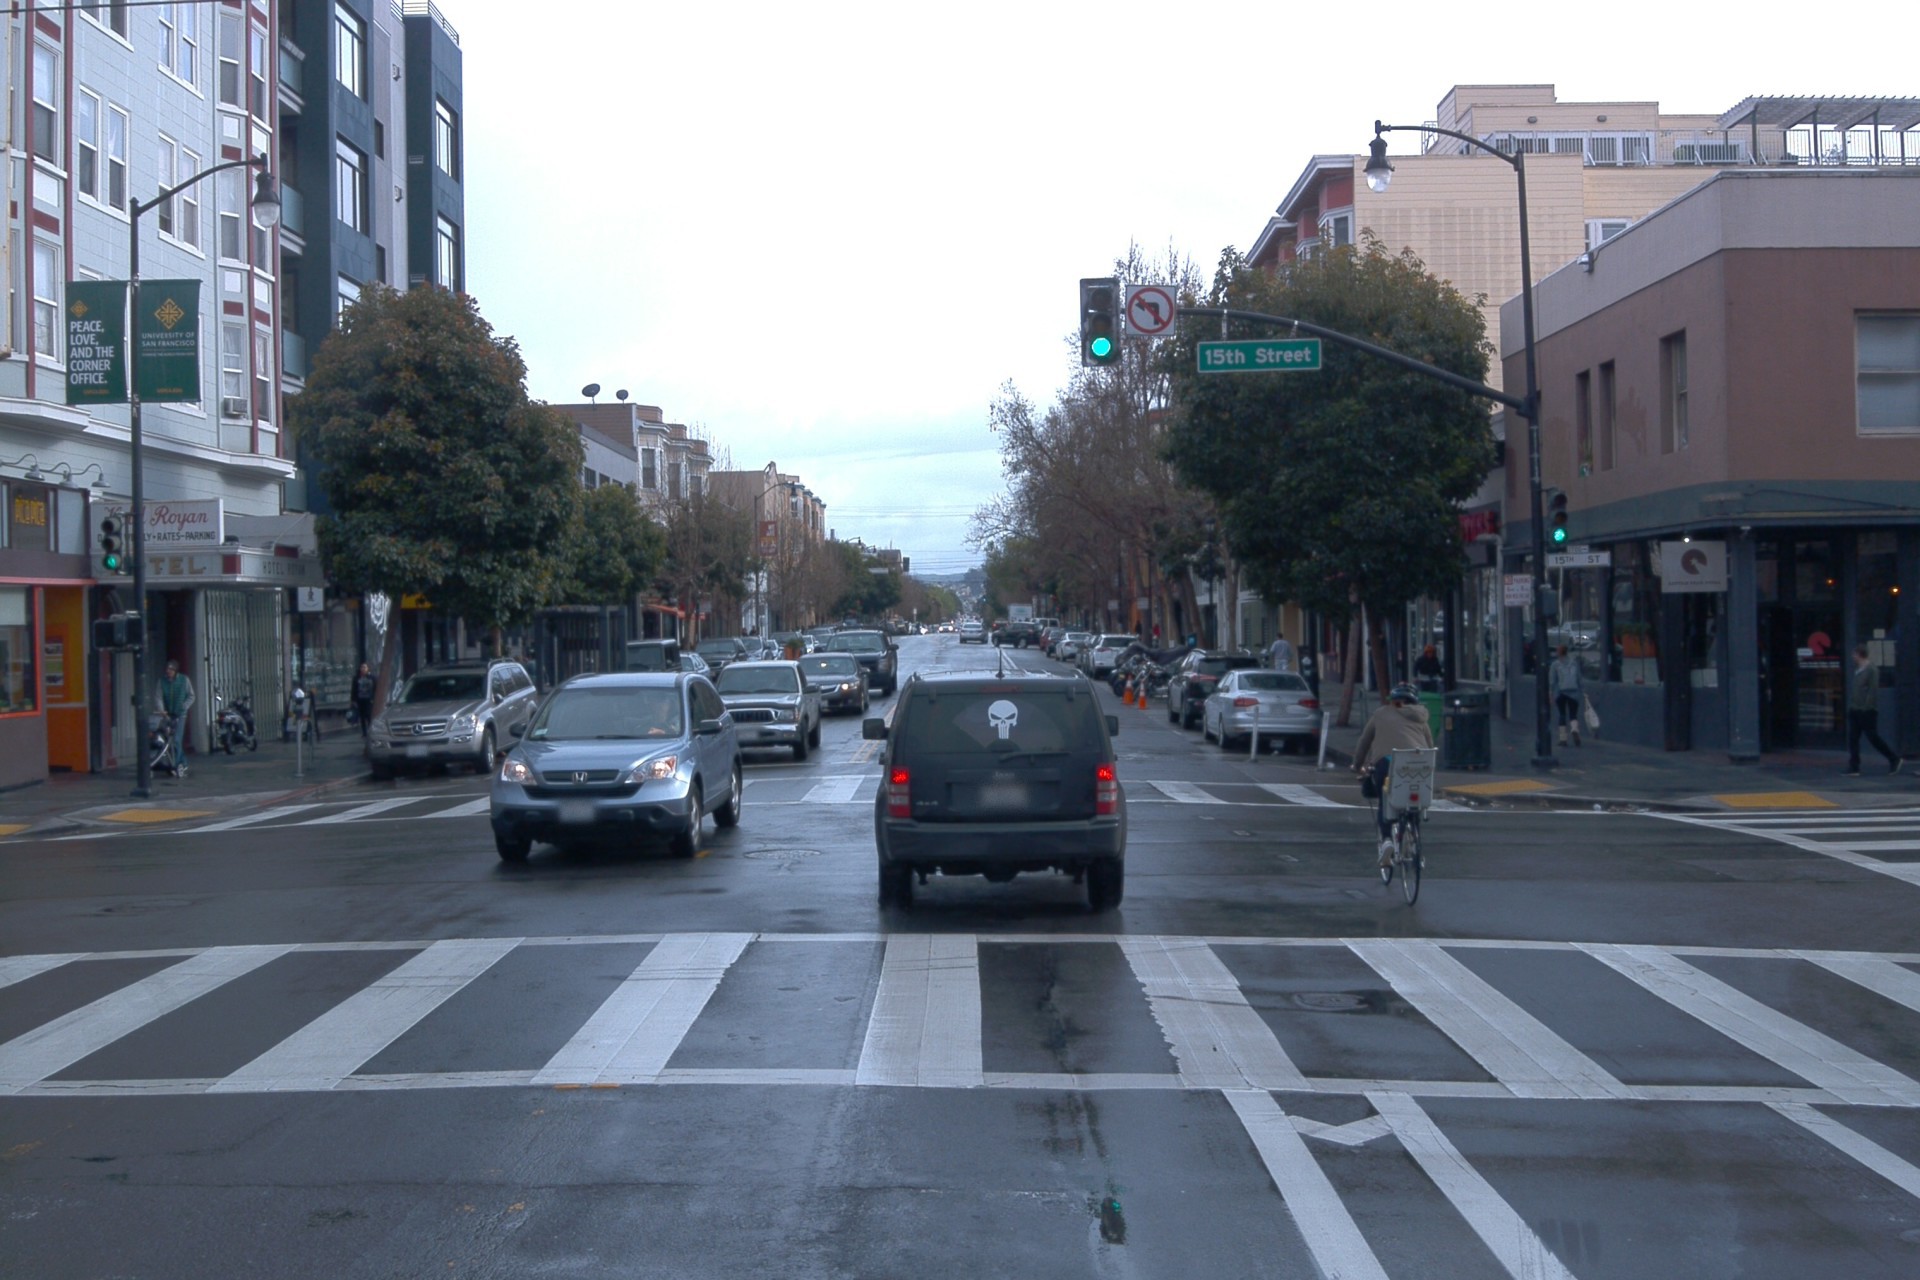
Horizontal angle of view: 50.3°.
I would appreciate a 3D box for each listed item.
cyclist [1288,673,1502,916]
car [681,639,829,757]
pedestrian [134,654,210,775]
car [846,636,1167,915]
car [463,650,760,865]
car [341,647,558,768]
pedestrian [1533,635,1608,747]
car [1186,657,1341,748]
[{"bbox_3d":[3.329,1.142,15.889,1.265,1.710,2.011,1,0,2],"label":"cyclist"},{"bbox_3d":[-3.403,0.916,34.858,1.970,1.830,5.201,1,0,0],"label":"car"},{"bbox_3d":[-12.685,1.183,32.934,0.870,1.910,0.948,0,0,-2],"label":"pedestrian"},{"bbox_3d":[0.269,0.929,16.263,2.194,1.885,4.387,0,0,-1],"label":"car"},{"bbox_3d":[-3.241,1.026,19.964,2.010,1.800,4.501,1,0,2],"label":"car"},{"bbox_3d":[-8.683,1.084,35.364,2.242,1.870,5.560,1,0,1],"label":"car"},{"bbox_3d":[10.025,0.820,33.586,0.996,1.800,0.925,1,0,5],"label":"pedestrian"},{"bbox_3d":[5.532,1.106,37.895,2.078,1.490,4.719,0,0,-1],"label":"car"}]
